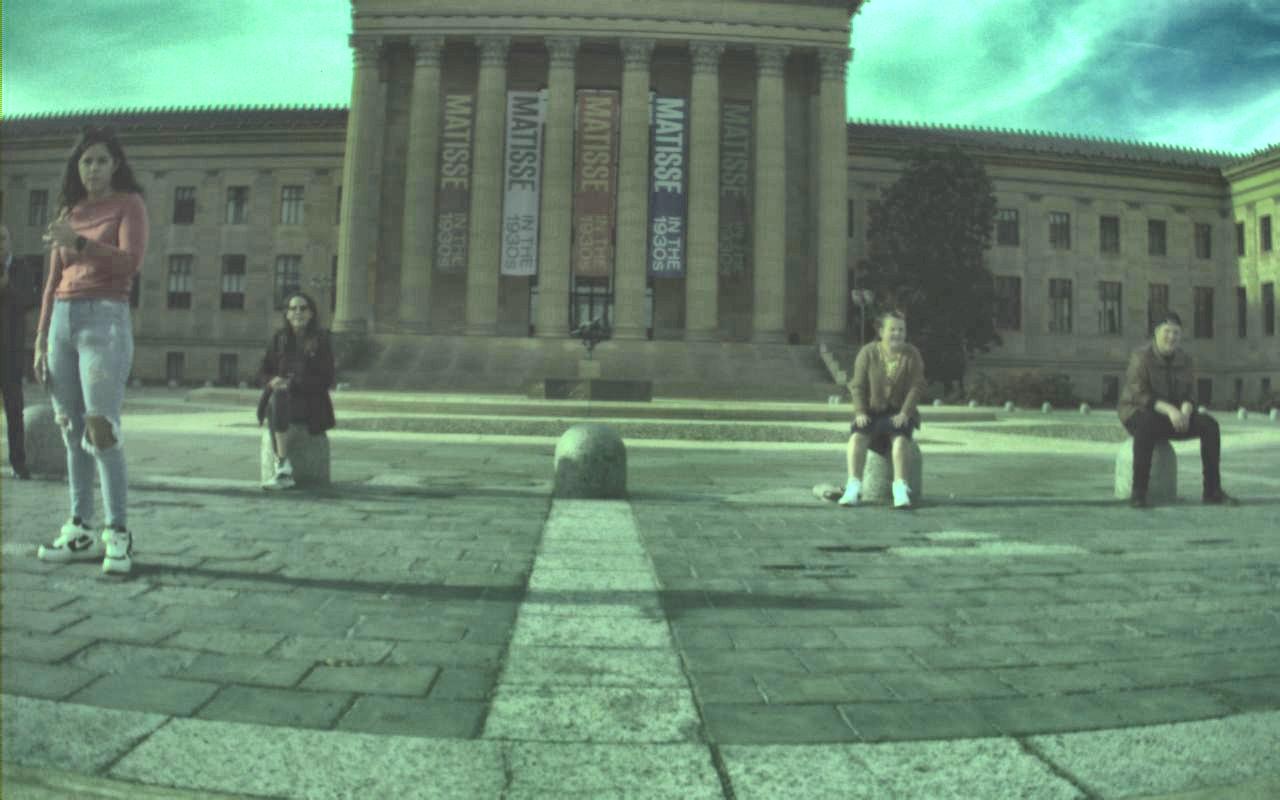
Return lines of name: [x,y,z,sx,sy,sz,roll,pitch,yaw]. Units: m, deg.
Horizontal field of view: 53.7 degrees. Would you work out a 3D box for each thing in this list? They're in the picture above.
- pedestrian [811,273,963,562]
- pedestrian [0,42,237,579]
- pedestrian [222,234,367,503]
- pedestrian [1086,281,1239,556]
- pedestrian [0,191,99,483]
pedestrian: [1.537,0.103,7.831,0.823,1.724,0.828,0,0,1]
pedestrian: [-1.976,-0.300,4.139,0.769,1.740,0.785,0,0,7]
pedestrian: [-2.177,-0.194,7.723,0.801,1.608,0.826,0,0,-6]
pedestrian: [3.495,0.126,7.868,0.834,1.741,0.857,0,0,5]
pedestrian: [-4.022,-0.377,7.220,0.820,1.768,0.795,0,0,1]
